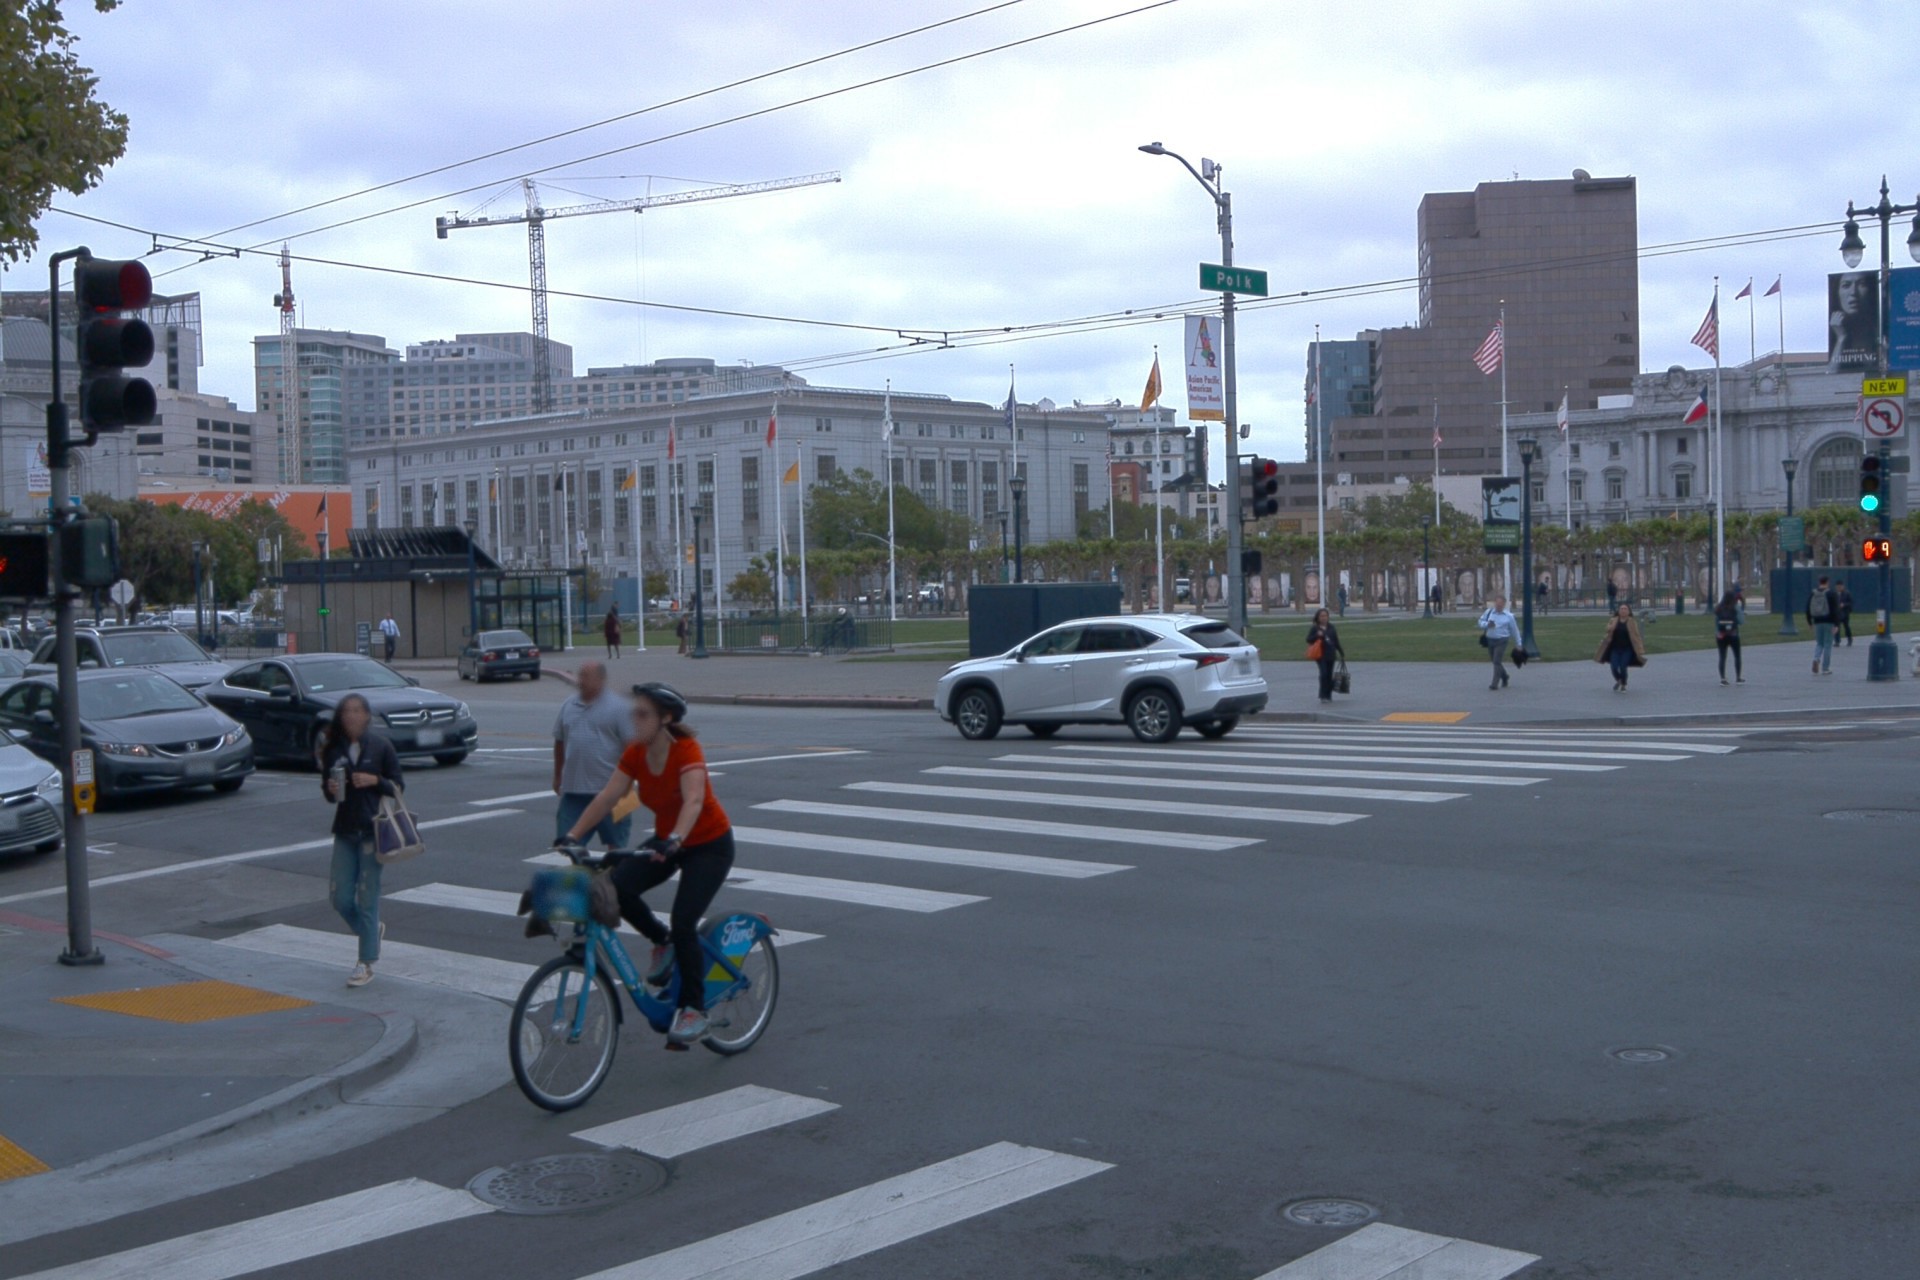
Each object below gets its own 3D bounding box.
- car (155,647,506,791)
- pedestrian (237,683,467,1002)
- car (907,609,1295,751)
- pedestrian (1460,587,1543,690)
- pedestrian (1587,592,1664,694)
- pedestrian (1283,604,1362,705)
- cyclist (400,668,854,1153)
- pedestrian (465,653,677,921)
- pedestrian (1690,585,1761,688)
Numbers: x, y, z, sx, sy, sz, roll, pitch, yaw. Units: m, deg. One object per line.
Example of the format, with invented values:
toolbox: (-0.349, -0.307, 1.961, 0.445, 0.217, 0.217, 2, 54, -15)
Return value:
car: (-7.714, 0.884, 25.090, 4.497, 1.490, 2.027, 1, 1, 42)
pedestrian: (-3.510, 1.132, 11.996, 0.910, 1.724, 0.992, 0, 1, 11)
car: (1.814, 0.449, 27.010, 4.575, 1.692, 2.195, 1, 1, 34)
pedestrian: (9.439, -0.043, 35.952, 1.055, 1.764, 1.153, 1, 1, 34)
pedestrian: (10.978, 0.032, 34.038, 0.944, 1.654, 1.016, 1, 1, 34)
pedestrian: (6.049, 0.228, 34.492, 1.021, 1.654, 1.011, 0, 1, -11)
cyclist: (-1.416, 1.079, 9.140, 0.825, 1.850, 1.935, 1, 1, 38)
pedestrian: (-2.729, 0.992, 14.587, 0.994, 1.764, 1.162, 0, 1, 22)
pedestrian: (13.030, -0.071, 35.116, 0.789, 1.734, 0.970, 1, 1, 45)
